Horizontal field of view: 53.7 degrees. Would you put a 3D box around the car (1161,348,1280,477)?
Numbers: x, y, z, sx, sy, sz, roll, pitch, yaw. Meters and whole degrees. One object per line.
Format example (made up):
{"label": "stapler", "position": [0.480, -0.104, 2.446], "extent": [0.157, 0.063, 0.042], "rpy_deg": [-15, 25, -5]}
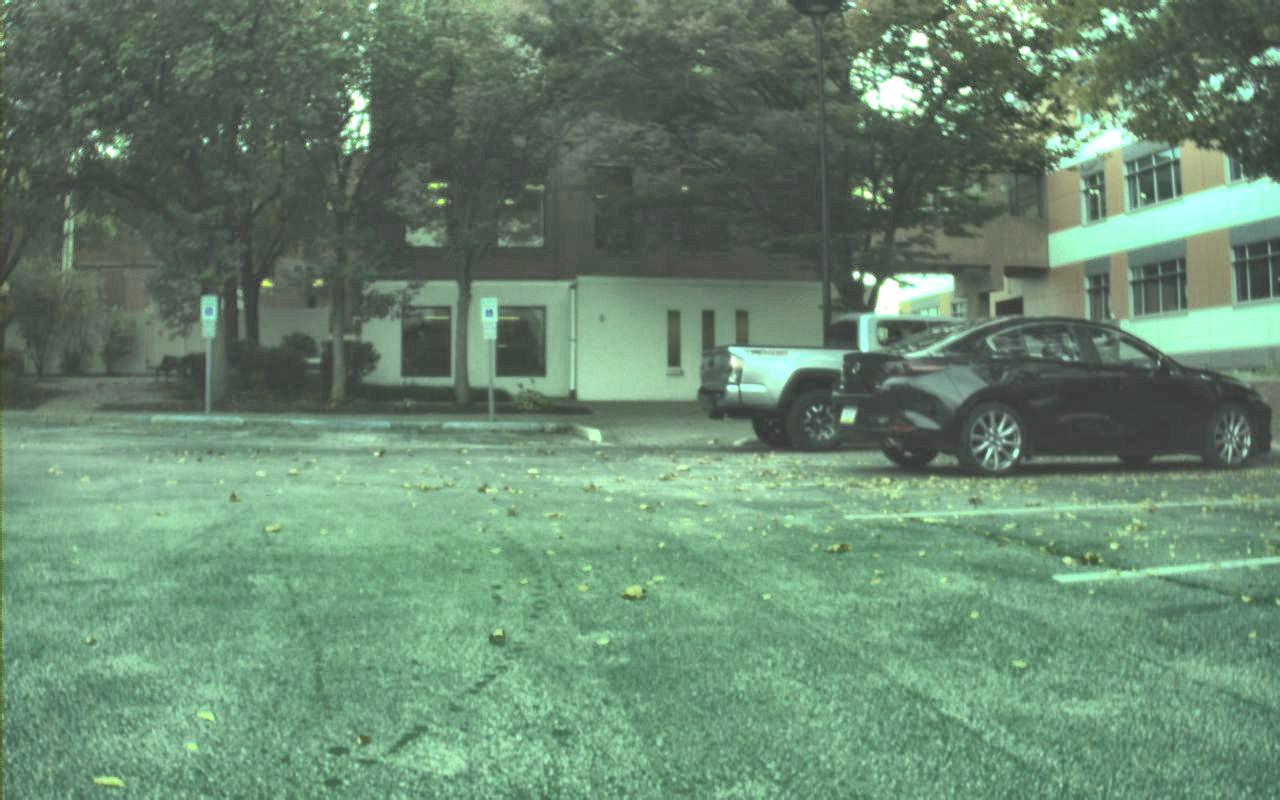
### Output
{"label": "car", "position": [8.677, 0.151, 16.016], "extent": [1.919, 1.583, 4.529], "rpy_deg": [1, 1, 11]}

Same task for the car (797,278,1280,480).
{"label": "car", "position": [3.985, -0.188, 11.340], "extent": [4.710, 1.596, 1.967], "rpy_deg": [0, 1, -14]}

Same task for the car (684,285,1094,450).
{"label": "car", "position": [3.297, -0.404, 16.393], "extent": [5.123, 1.941, 2.111], "rpy_deg": [0, 1, -11]}
